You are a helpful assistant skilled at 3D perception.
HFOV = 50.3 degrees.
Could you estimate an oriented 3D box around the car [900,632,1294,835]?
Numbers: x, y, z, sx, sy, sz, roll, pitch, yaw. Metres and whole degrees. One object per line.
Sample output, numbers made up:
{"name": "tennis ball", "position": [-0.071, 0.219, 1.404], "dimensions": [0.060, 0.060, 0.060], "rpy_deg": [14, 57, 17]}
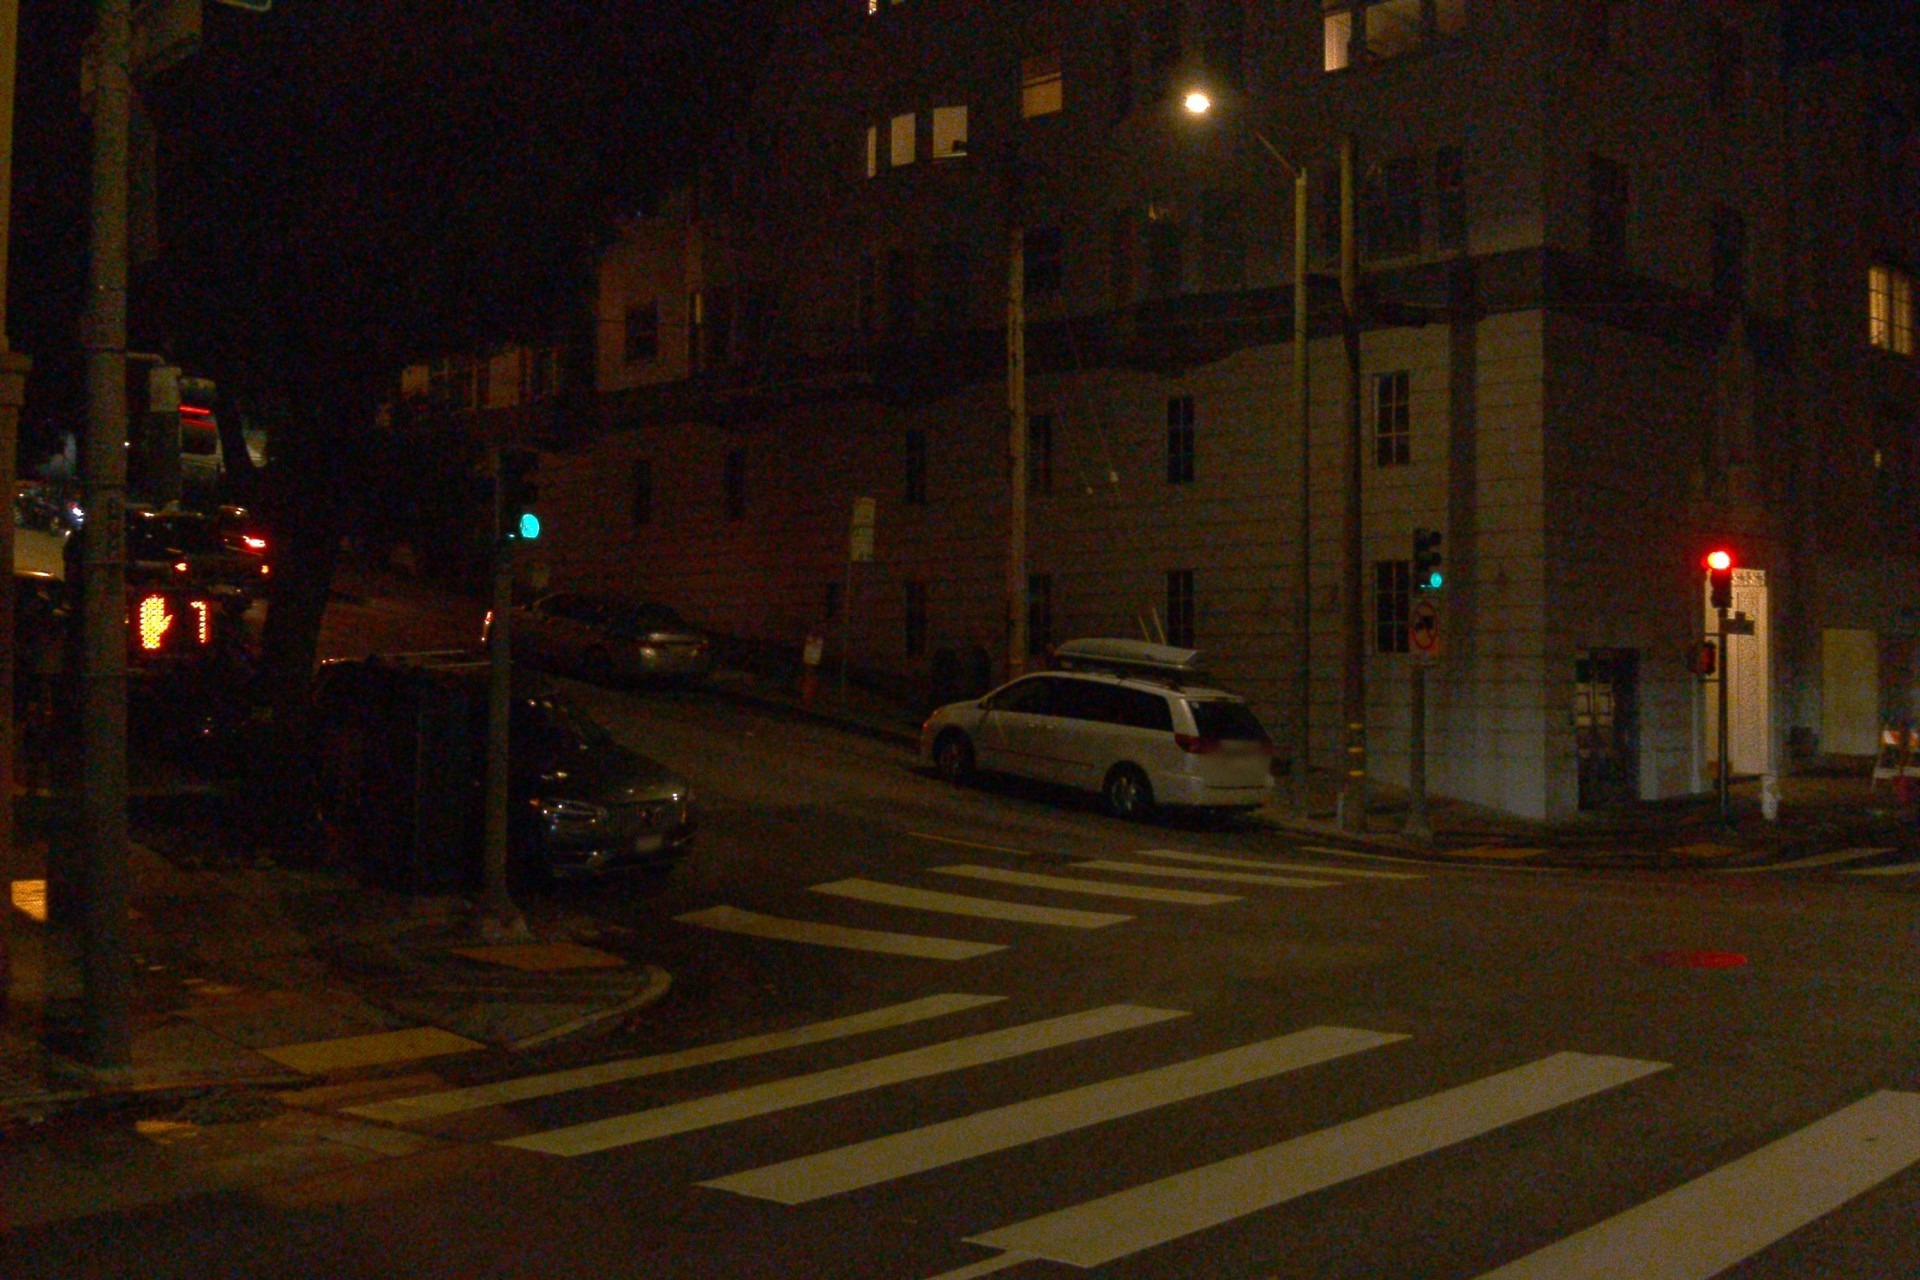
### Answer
{"name": "car", "position": [1.729, 1.120, 27.136], "dimensions": [4.904, 2.388, 2.213], "rpy_deg": [1, 1, 44]}

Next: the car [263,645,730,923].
{"name": "car", "position": [-4.592, 1.226, 19.807], "dimensions": [2.195, 2.290, 4.784], "rpy_deg": [0, 1, -44]}

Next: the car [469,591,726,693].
{"name": "car", "position": [-6.222, 0.003, 34.847], "dimensions": [4.539, 1.626, 1.925], "rpy_deg": [1, 1, 42]}
